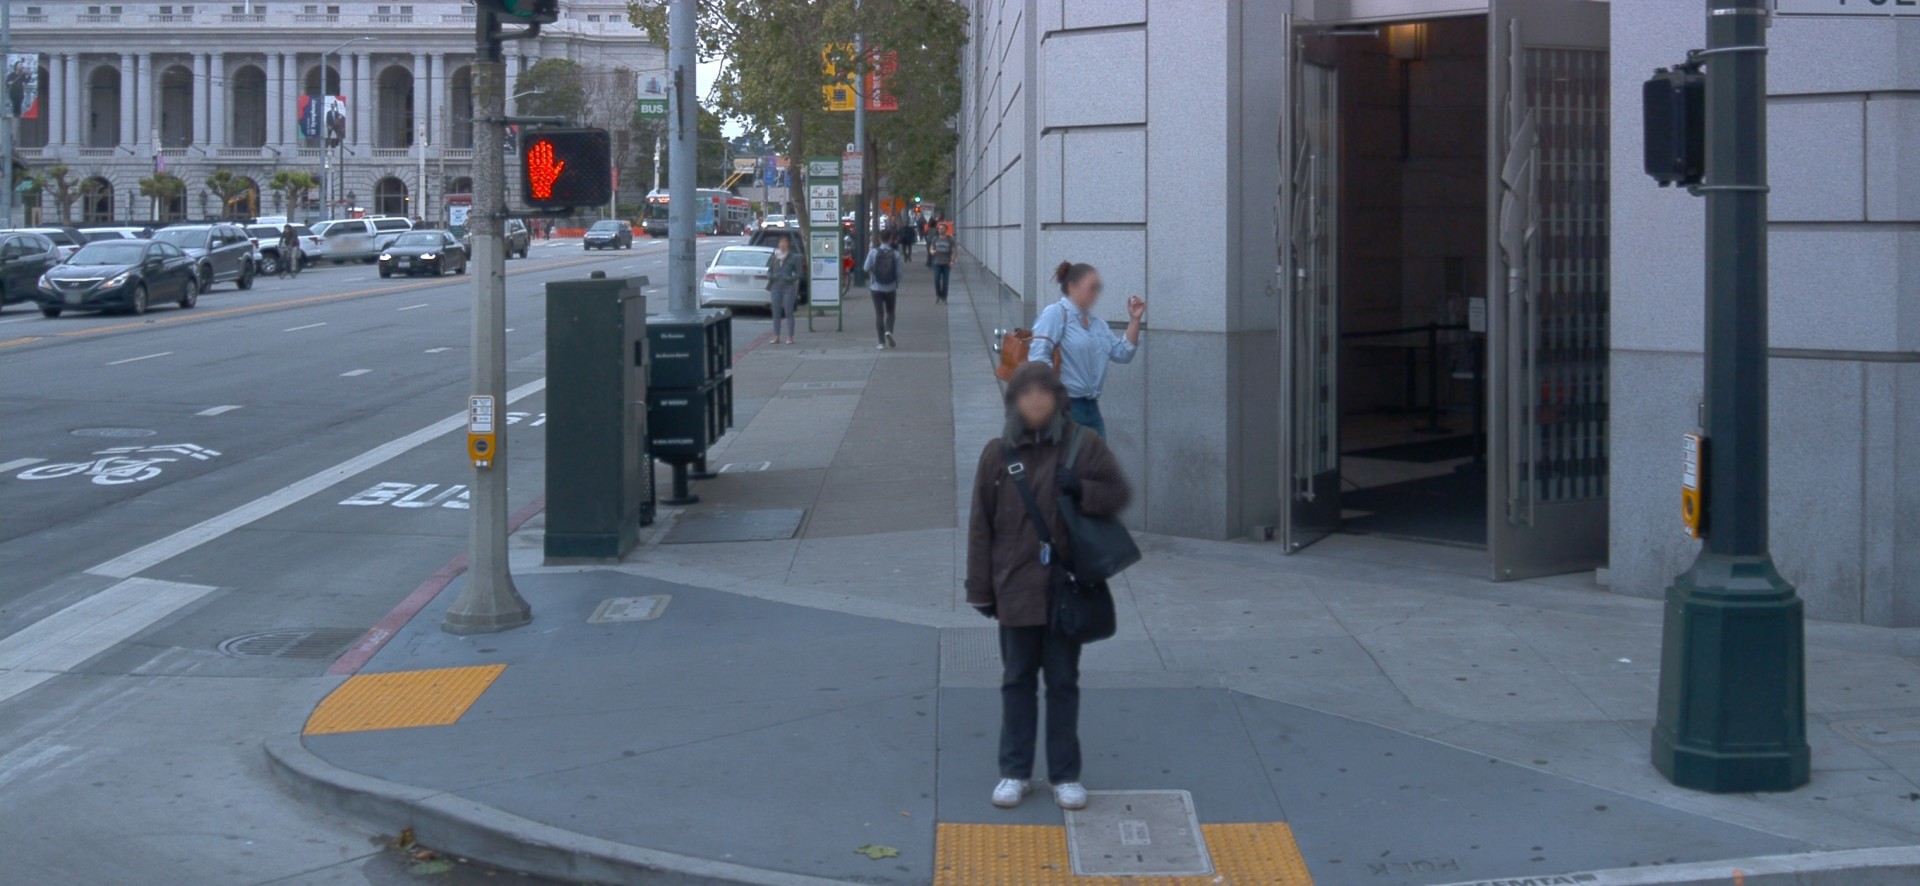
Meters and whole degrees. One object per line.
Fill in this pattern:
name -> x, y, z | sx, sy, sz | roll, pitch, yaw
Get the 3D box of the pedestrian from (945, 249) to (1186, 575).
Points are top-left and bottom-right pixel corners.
pedestrian -> 0.625, -0.239, 12.188 | 1.056, 1.801, 0.960 | -2, 3, -43

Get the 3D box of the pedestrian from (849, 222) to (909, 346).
pedestrian -> -1.213, -2.375, 30.553 | 0.875, 1.808, 1.129 | 0, 2, -3

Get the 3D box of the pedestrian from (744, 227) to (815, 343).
pedestrian -> -2.823, -2.497, 32.264 | 0.850, 1.788, 0.790 | 1, 2, 19

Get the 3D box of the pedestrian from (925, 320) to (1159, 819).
pedestrian -> 0.282, 0.423, 7.517 | 0.799, 1.707, 0.672 | 0, 2, -2
